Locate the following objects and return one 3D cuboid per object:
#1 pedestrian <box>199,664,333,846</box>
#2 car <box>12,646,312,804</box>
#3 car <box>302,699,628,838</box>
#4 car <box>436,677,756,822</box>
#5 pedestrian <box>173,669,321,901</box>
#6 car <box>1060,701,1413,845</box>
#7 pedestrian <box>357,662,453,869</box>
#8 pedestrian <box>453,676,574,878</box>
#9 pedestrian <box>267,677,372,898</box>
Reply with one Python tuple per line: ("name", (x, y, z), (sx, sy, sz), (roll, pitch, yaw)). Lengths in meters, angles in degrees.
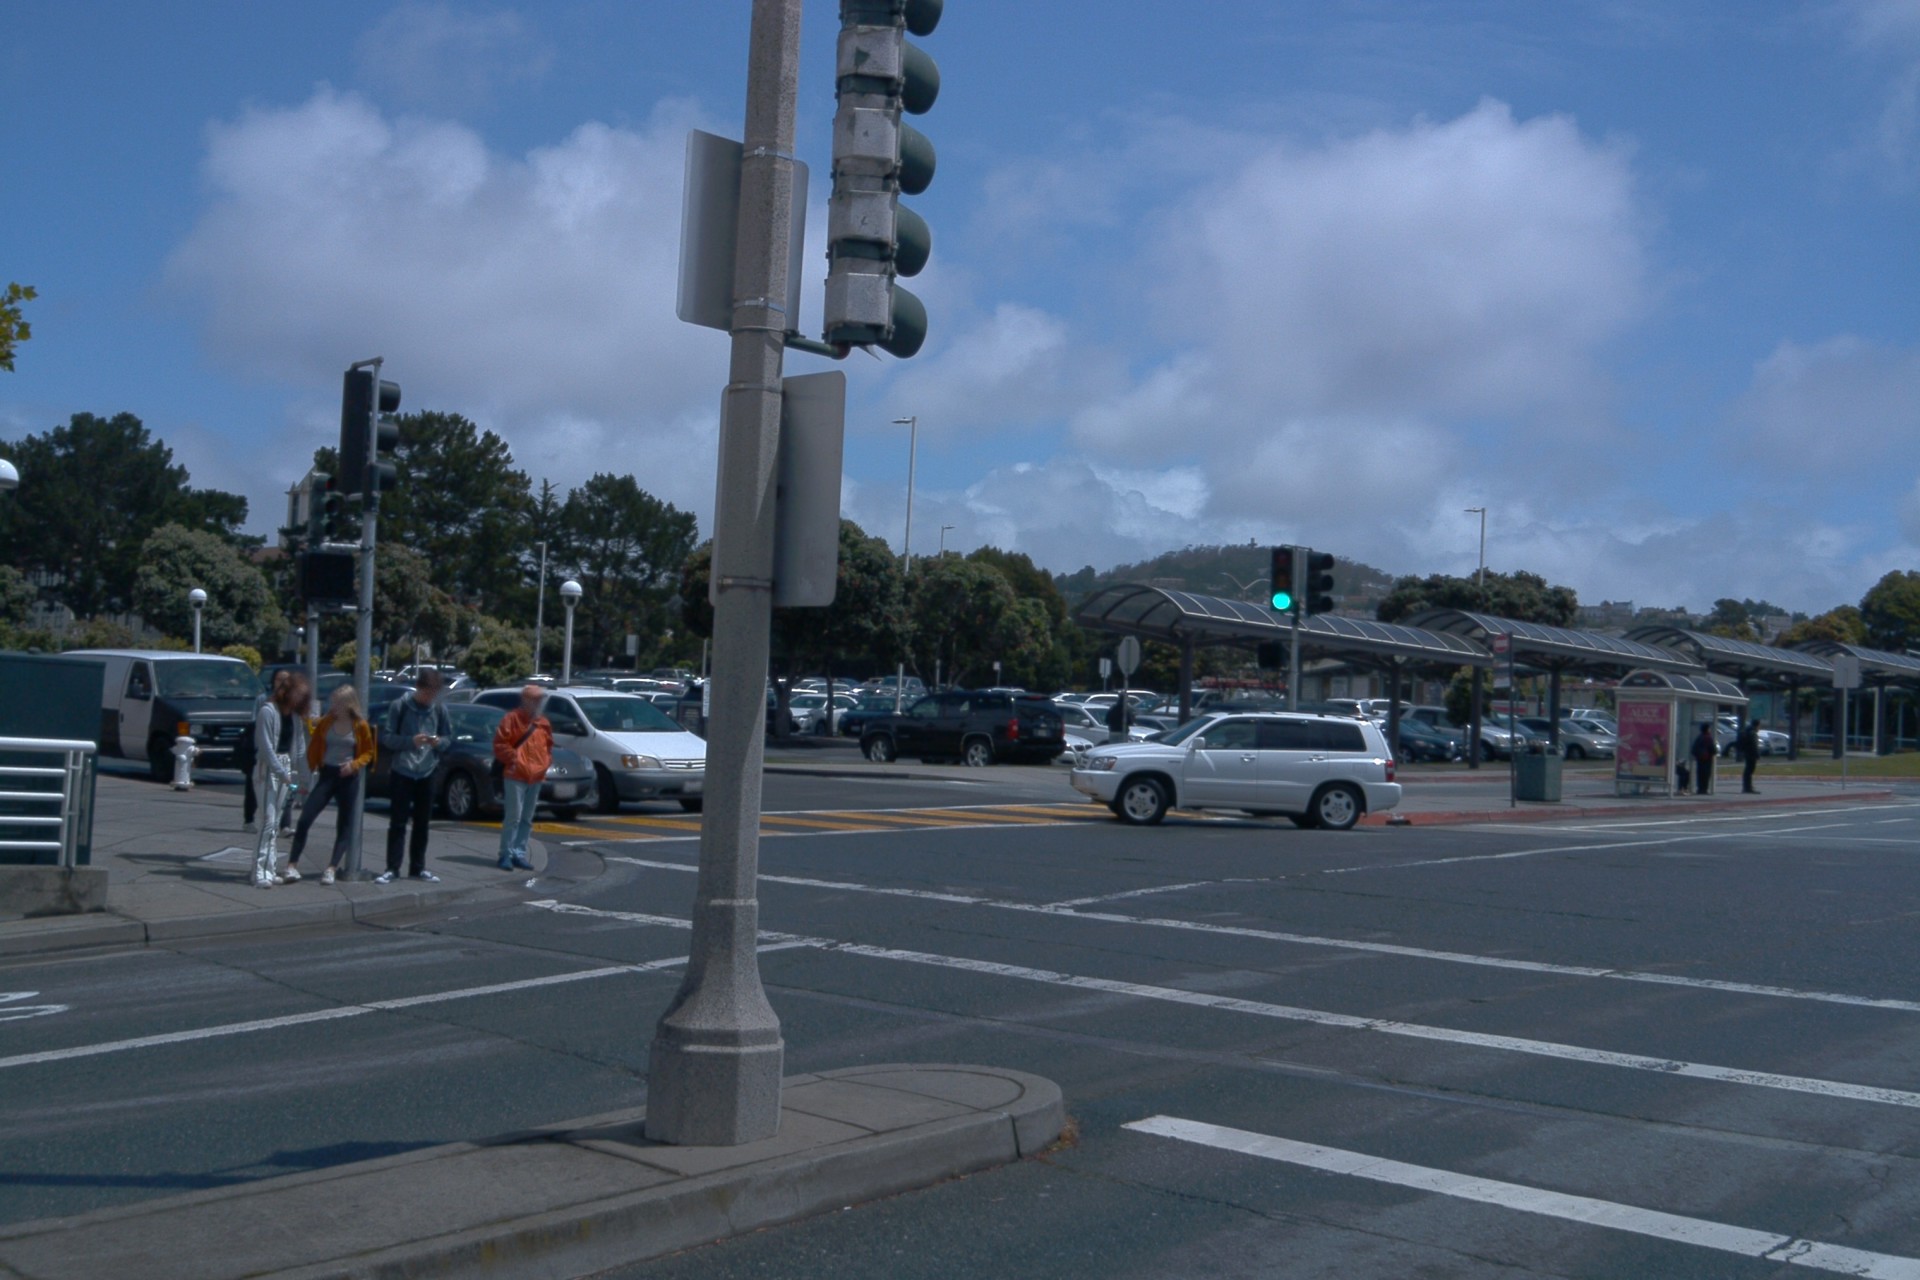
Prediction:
("pedestrian", (-6.600, 1.068, 19.639), (0.976, 1.650, 0.834), (1, 1, 43))
("car", (-12.704, 1.244, 32.665), (5.338, 2.200, 2.381), (1, 1, 44))
("car", (-6.429, 1.579, 26.551), (4.356, 1.450, 1.969), (1, 1, 43))
("car", (-5.214, 1.472, 29.219), (4.587, 1.750, 2.034), (1, 1, 42))
("pedestrian", (-5.589, 1.113, 16.207), (0.761, 1.740, 0.791), (0, 1, 19))
("car", (3.882, 1.855, 29.470), (4.660, 1.850, 2.097), (0, 1, -5))
("pedestrian", (-4.554, 1.014, 16.979), (0.713, 1.650, 0.639), (0, 1, -11))
("pedestrian", (-4.119, 1.223, 18.989), (0.867, 1.740, 1.248), (0, 1, -23))
("pedestrian", (-5.141, 1.163, 16.556), (0.691, 1.700, 0.553), (-1, 1, -29))
